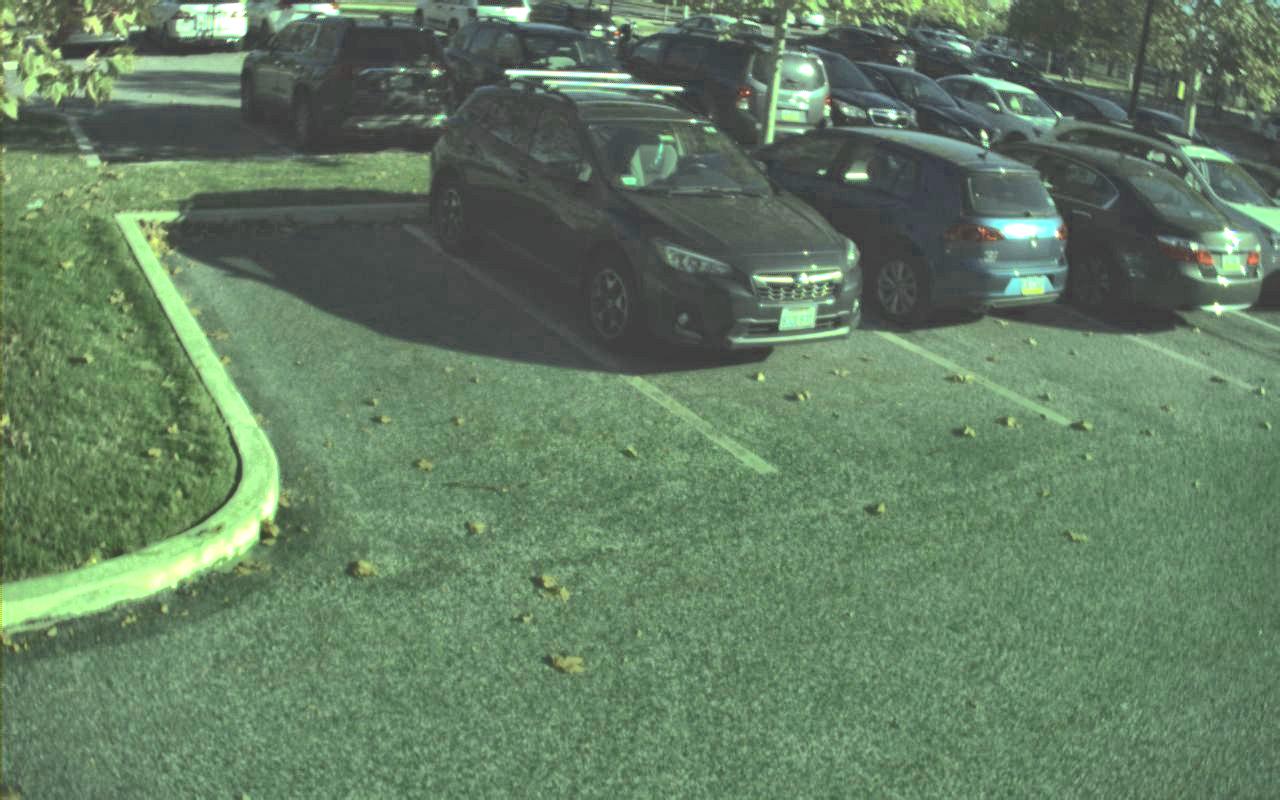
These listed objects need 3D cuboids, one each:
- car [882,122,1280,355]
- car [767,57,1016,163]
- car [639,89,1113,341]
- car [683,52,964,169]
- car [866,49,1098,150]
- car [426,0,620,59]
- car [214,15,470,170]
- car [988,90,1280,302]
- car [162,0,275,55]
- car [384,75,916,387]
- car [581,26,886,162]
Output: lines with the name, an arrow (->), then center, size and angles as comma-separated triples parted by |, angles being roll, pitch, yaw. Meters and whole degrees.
car -> 4.637, -1.858, 12.368 | 1.969, 1.597, 4.561 | -9, 18, -26
car -> 4.451, -5.293, 22.022 | 1.960, 1.589, 4.430 | -12, 20, -33
car -> 2.021, -1.878, 11.250 | 1.905, 1.642, 4.224 | -13, 20, -35
car -> 2.976, -4.885, 20.370 | 1.974, 1.639, 4.476 | -15, 22, -39
car -> 6.660, -5.964, 23.666 | 1.992, 1.645, 4.569 | -11, 19, -30
car -> -3.073, -9.799, 31.812 | 4.669, 1.661, 1.987 | -10, 18, -26
car -> -4.265, -4.223, 16.373 | 2.030, 1.732, 4.713 | -12, 20, -32
car -> 6.668, -2.686, 14.407 | 2.076, 1.902, 4.815 | -10, 19, -28
car -> -10.426, -9.390, 28.180 | 2.040, 1.822, 4.677 | -10, 19, -28
car -> -0.190, -1.606, 9.815 | 1.975, 1.706, 4.571 | -12, 20, -32
car -> 1.262, -4.666, 18.380 | 2.039, 1.779, 4.659 | -12, 20, -34
